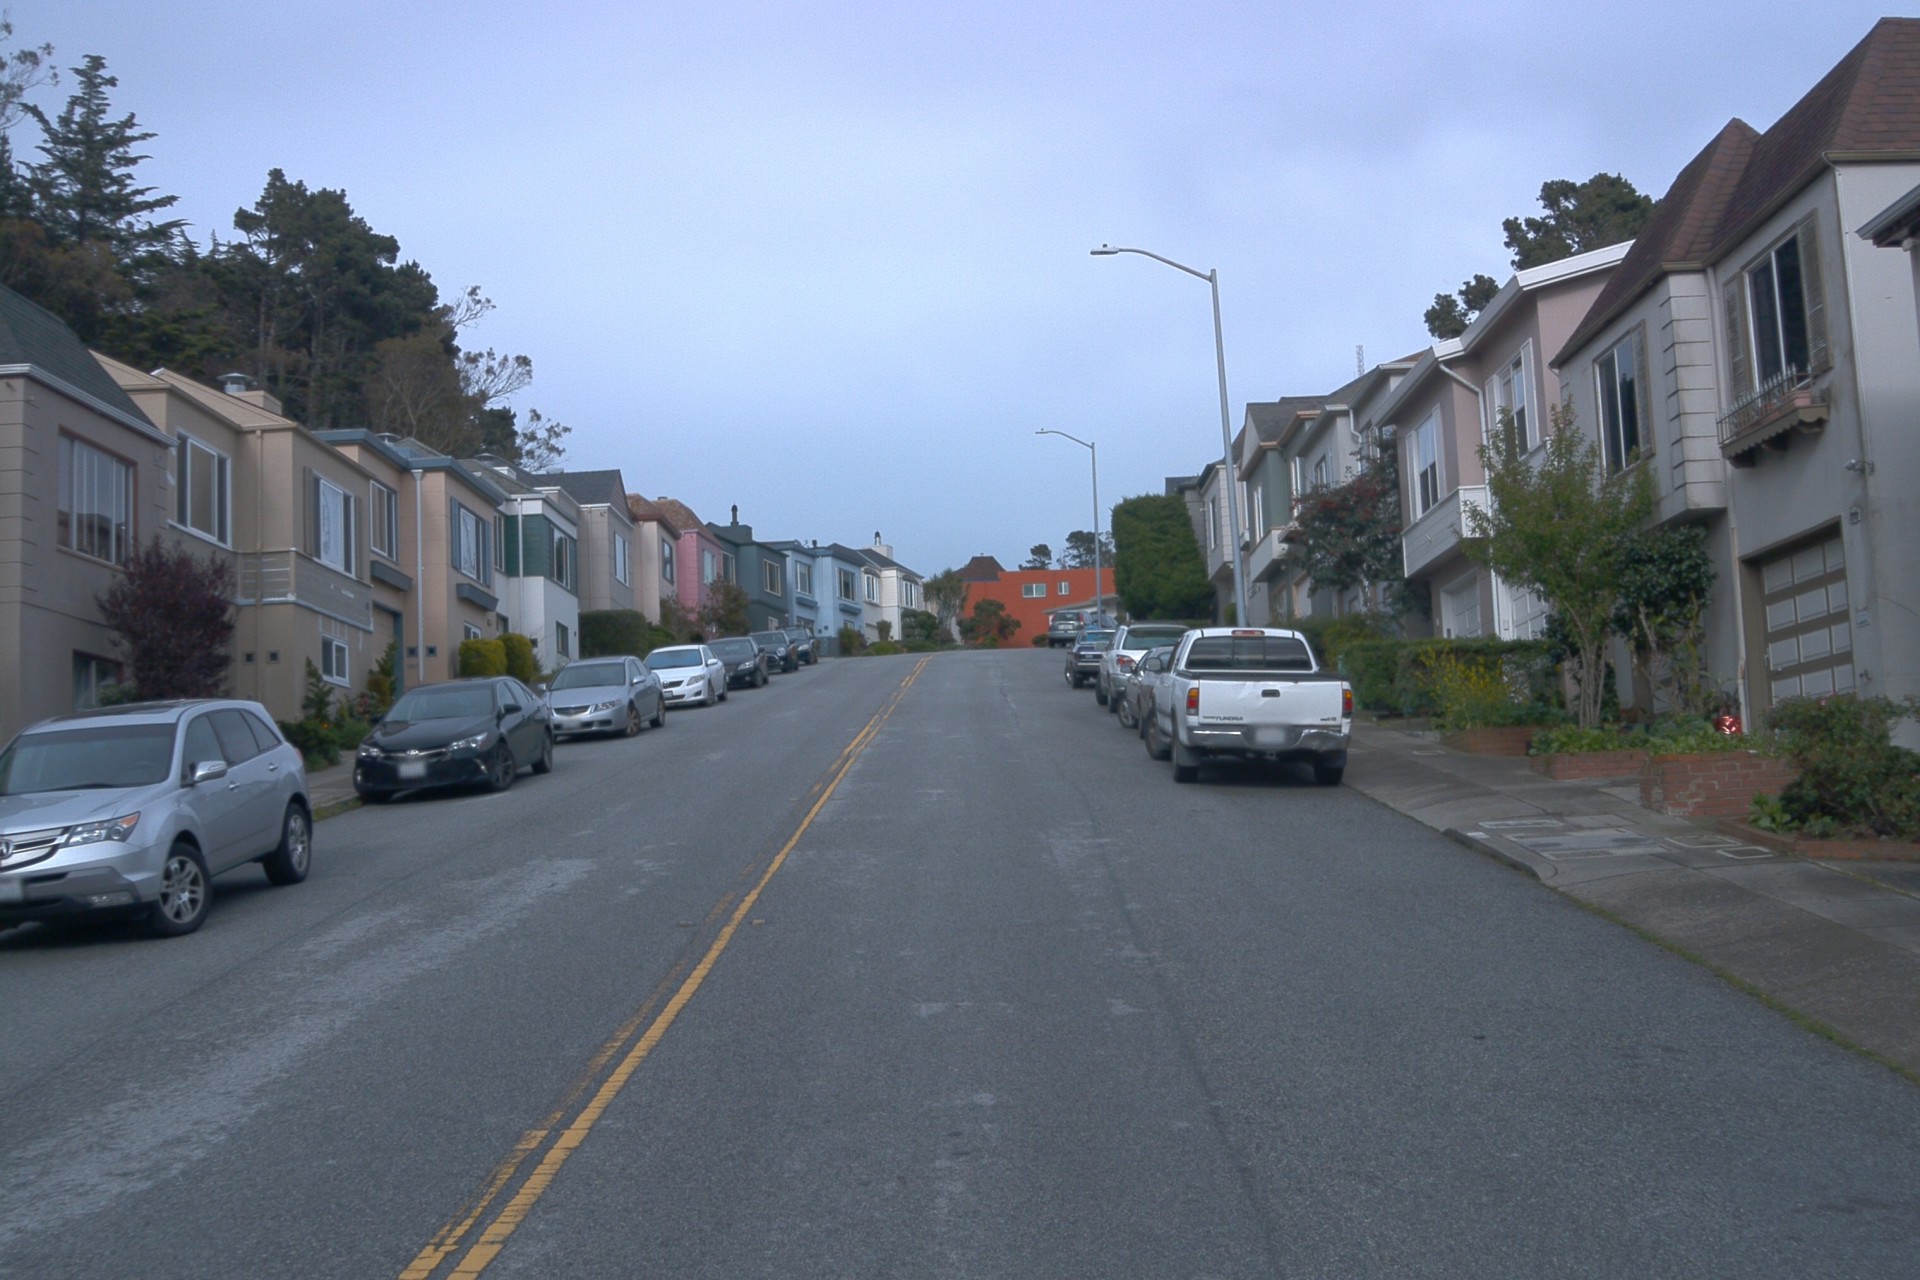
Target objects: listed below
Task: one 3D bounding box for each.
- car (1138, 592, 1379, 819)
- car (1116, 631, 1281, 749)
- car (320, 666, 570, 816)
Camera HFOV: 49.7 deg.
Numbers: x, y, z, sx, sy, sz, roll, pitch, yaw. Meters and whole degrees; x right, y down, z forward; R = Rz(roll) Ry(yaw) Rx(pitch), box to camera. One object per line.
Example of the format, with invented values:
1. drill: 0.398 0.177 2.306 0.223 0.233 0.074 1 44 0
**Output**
1. car: 3.496 0.729 25.415 2.305 2.480 5.609 0 0 2
2. car: 3.633 0.743 32.358 2.085 1.710 4.591 0 0 1
3. car: -6.819 1.280 28.021 2.170 1.810 4.903 0 0 0
